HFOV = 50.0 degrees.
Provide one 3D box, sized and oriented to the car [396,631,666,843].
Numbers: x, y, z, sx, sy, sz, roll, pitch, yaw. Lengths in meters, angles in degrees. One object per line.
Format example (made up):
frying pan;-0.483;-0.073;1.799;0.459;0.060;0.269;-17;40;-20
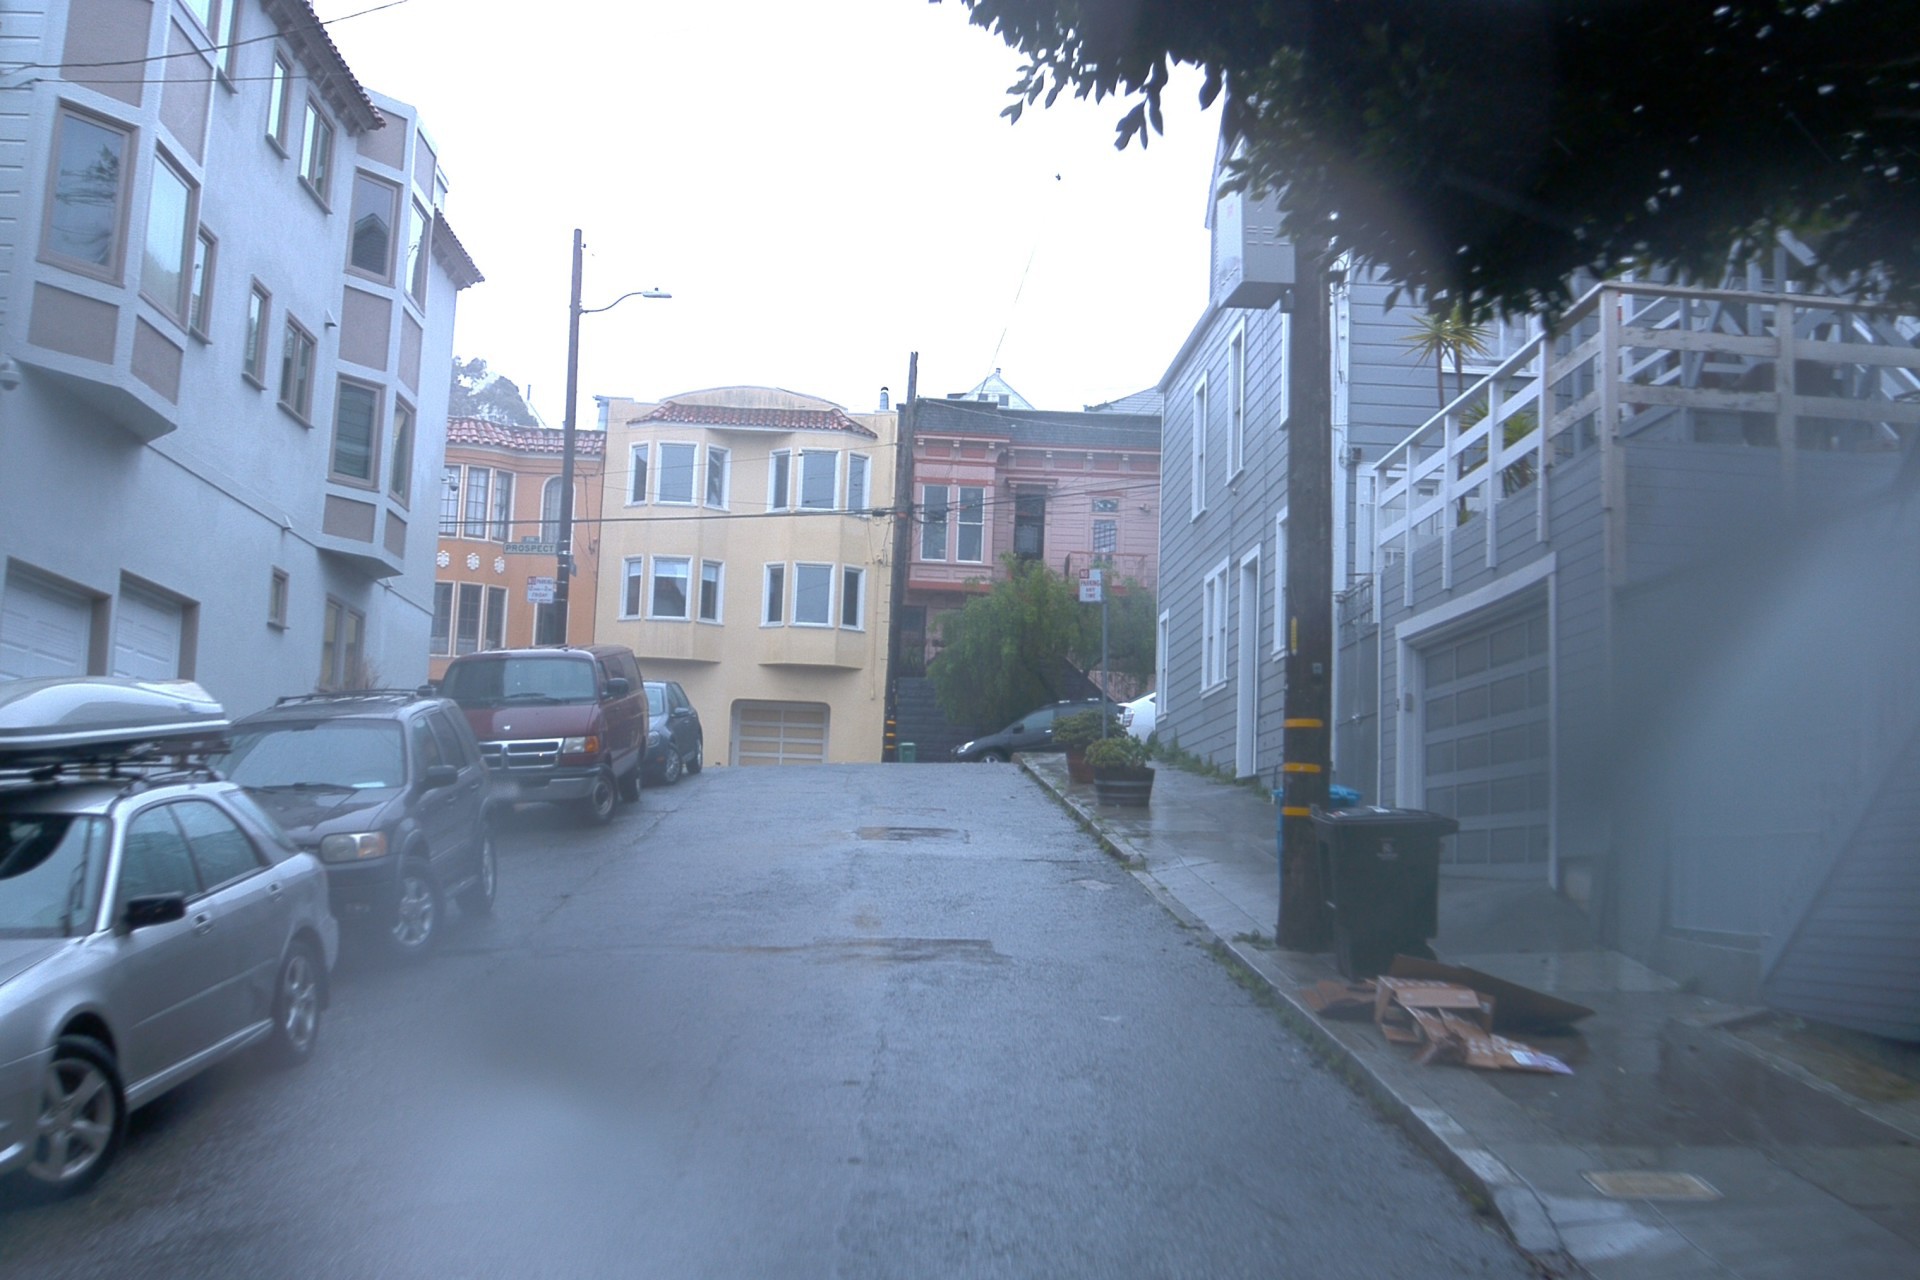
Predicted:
car;-4.922;1.025;24.449;2.306;2.200;5.074;1;0;-2

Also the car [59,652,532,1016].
car;-4.397;1.172;14.413;2.018;2.070;4.342;1;0;-2
